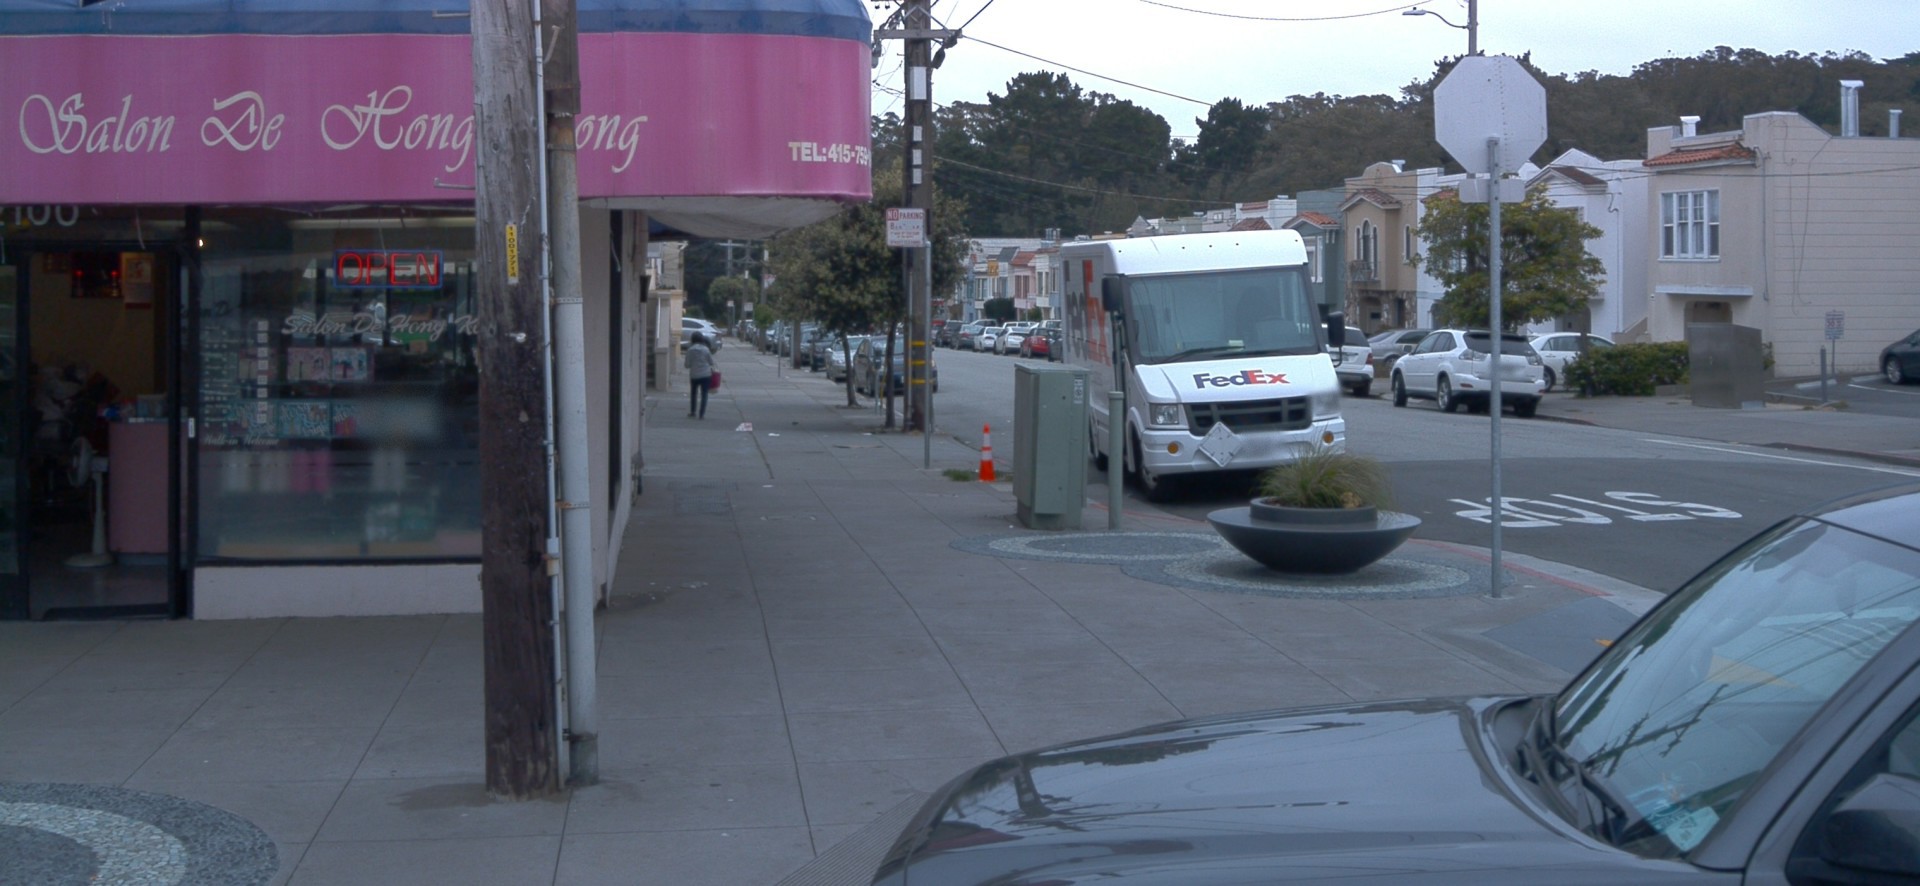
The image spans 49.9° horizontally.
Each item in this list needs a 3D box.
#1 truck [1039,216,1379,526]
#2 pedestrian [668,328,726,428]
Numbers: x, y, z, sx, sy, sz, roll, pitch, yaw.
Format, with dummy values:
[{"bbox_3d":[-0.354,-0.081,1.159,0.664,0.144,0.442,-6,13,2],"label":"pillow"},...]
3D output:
[{"bbox_3d":[2.637,-1.127,24.246,2.689,3.011,7.384,-1,6,-3],"label":"truck"},{"bbox_3d":[-4.567,-1.135,35.864,0.939,1.678,0.686,0,2,-3],"label":"pedestrian"}]
